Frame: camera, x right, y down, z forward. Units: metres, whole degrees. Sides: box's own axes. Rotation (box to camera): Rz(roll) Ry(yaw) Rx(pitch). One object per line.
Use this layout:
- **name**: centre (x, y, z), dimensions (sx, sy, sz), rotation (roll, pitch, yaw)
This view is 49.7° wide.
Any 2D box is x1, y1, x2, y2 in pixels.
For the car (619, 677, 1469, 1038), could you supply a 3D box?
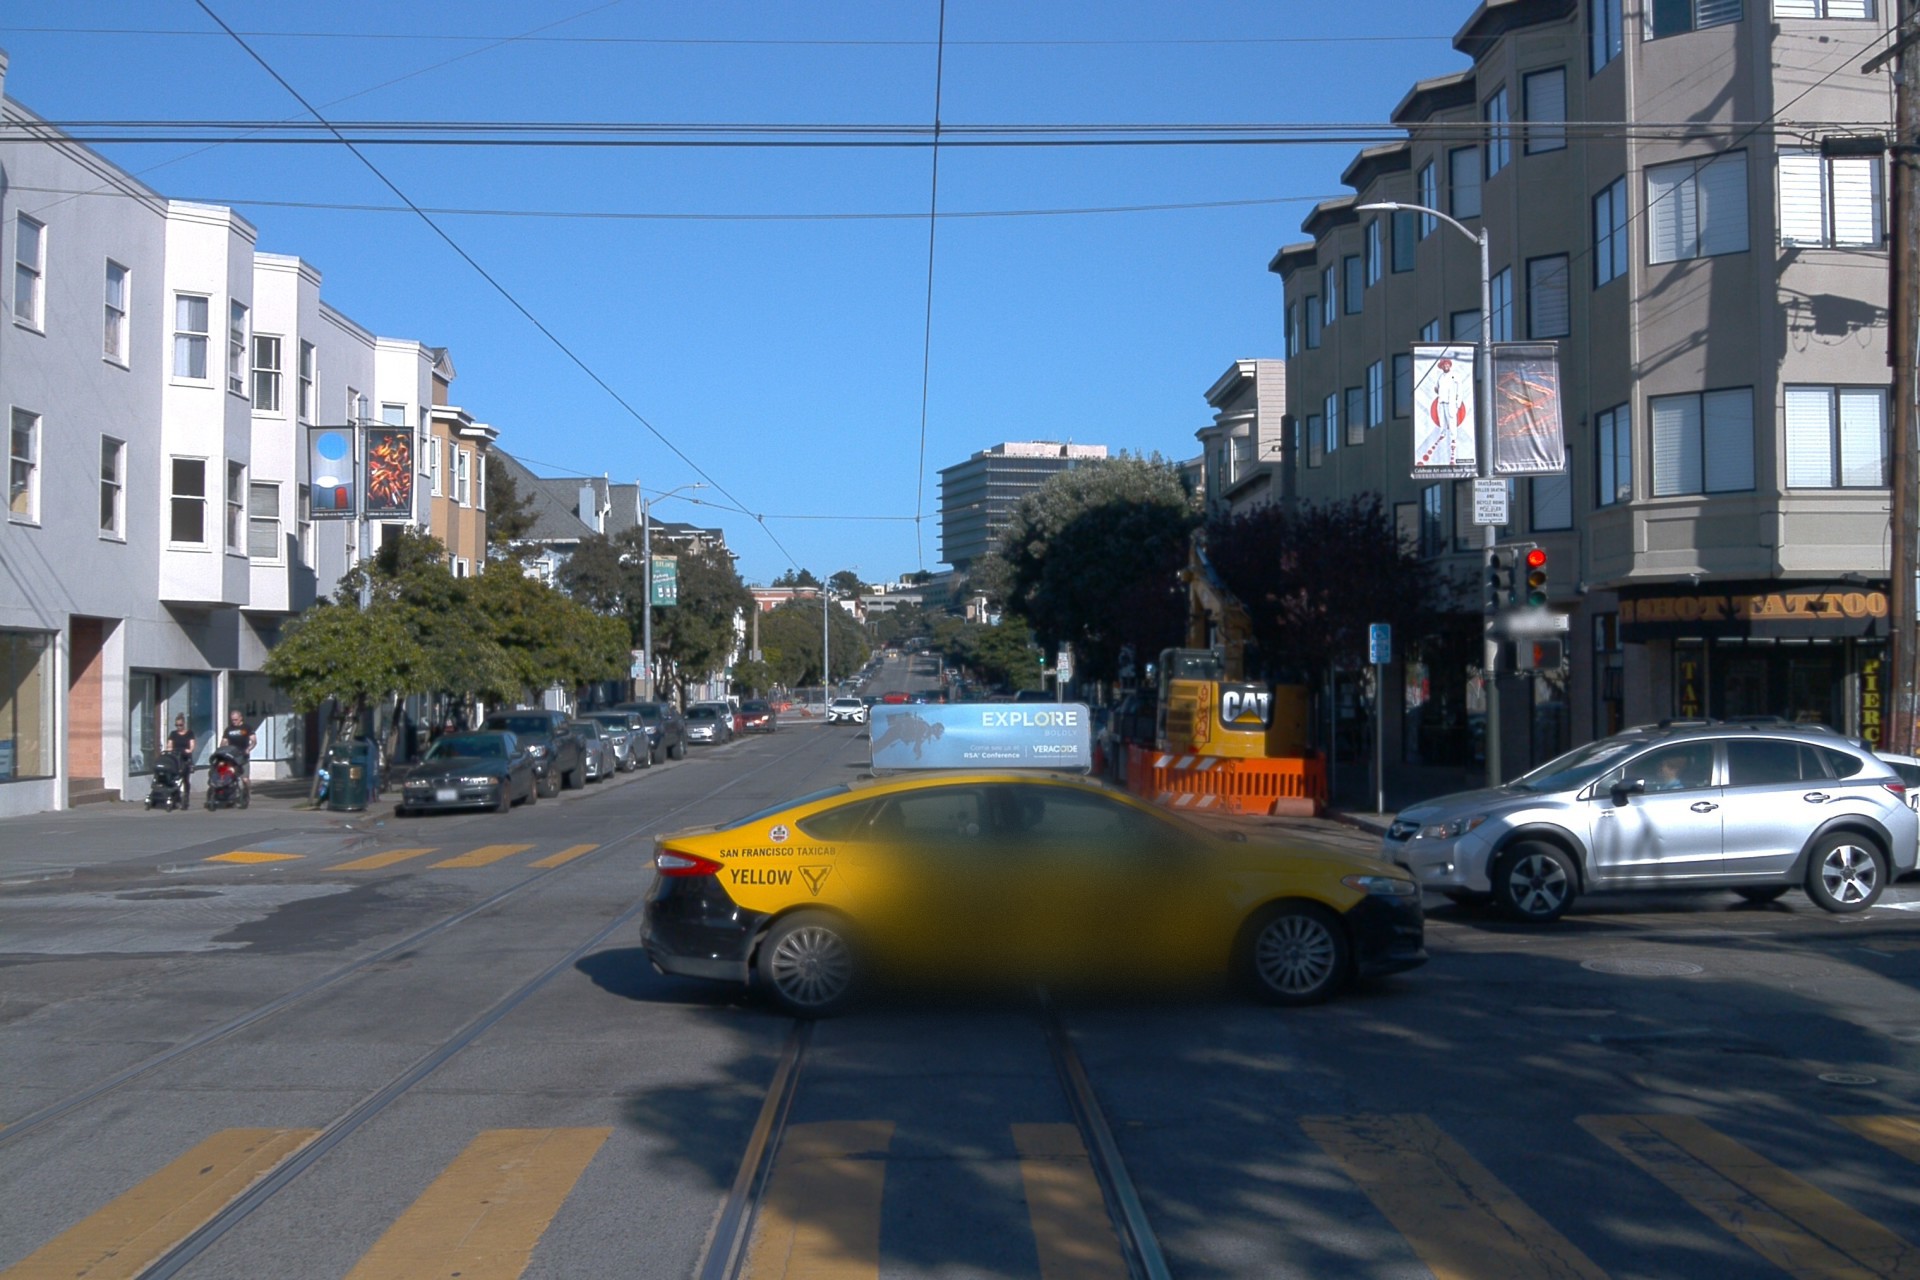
- **car**: centre (0.474, 1.296, 13.256), dimensions (5.017, 2.090, 2.080), rotation (0, 0, -2)

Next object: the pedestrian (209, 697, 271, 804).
- **pedestrian**: centre (-12.597, 1.918, 36.261), dimensions (0.768, 1.820, 0.947), rotation (0, 0, -1)

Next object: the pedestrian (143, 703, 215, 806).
- **pedestrian**: centre (-13.429, 1.956, 35.639), dimensions (0.837, 1.720, 1.012), rotation (0, 0, 1)

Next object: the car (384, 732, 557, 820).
- **car**: centre (-8.760, 2.412, 37.437), dimensions (2.075, 1.330, 4.407), rotation (0, 0, 0)
